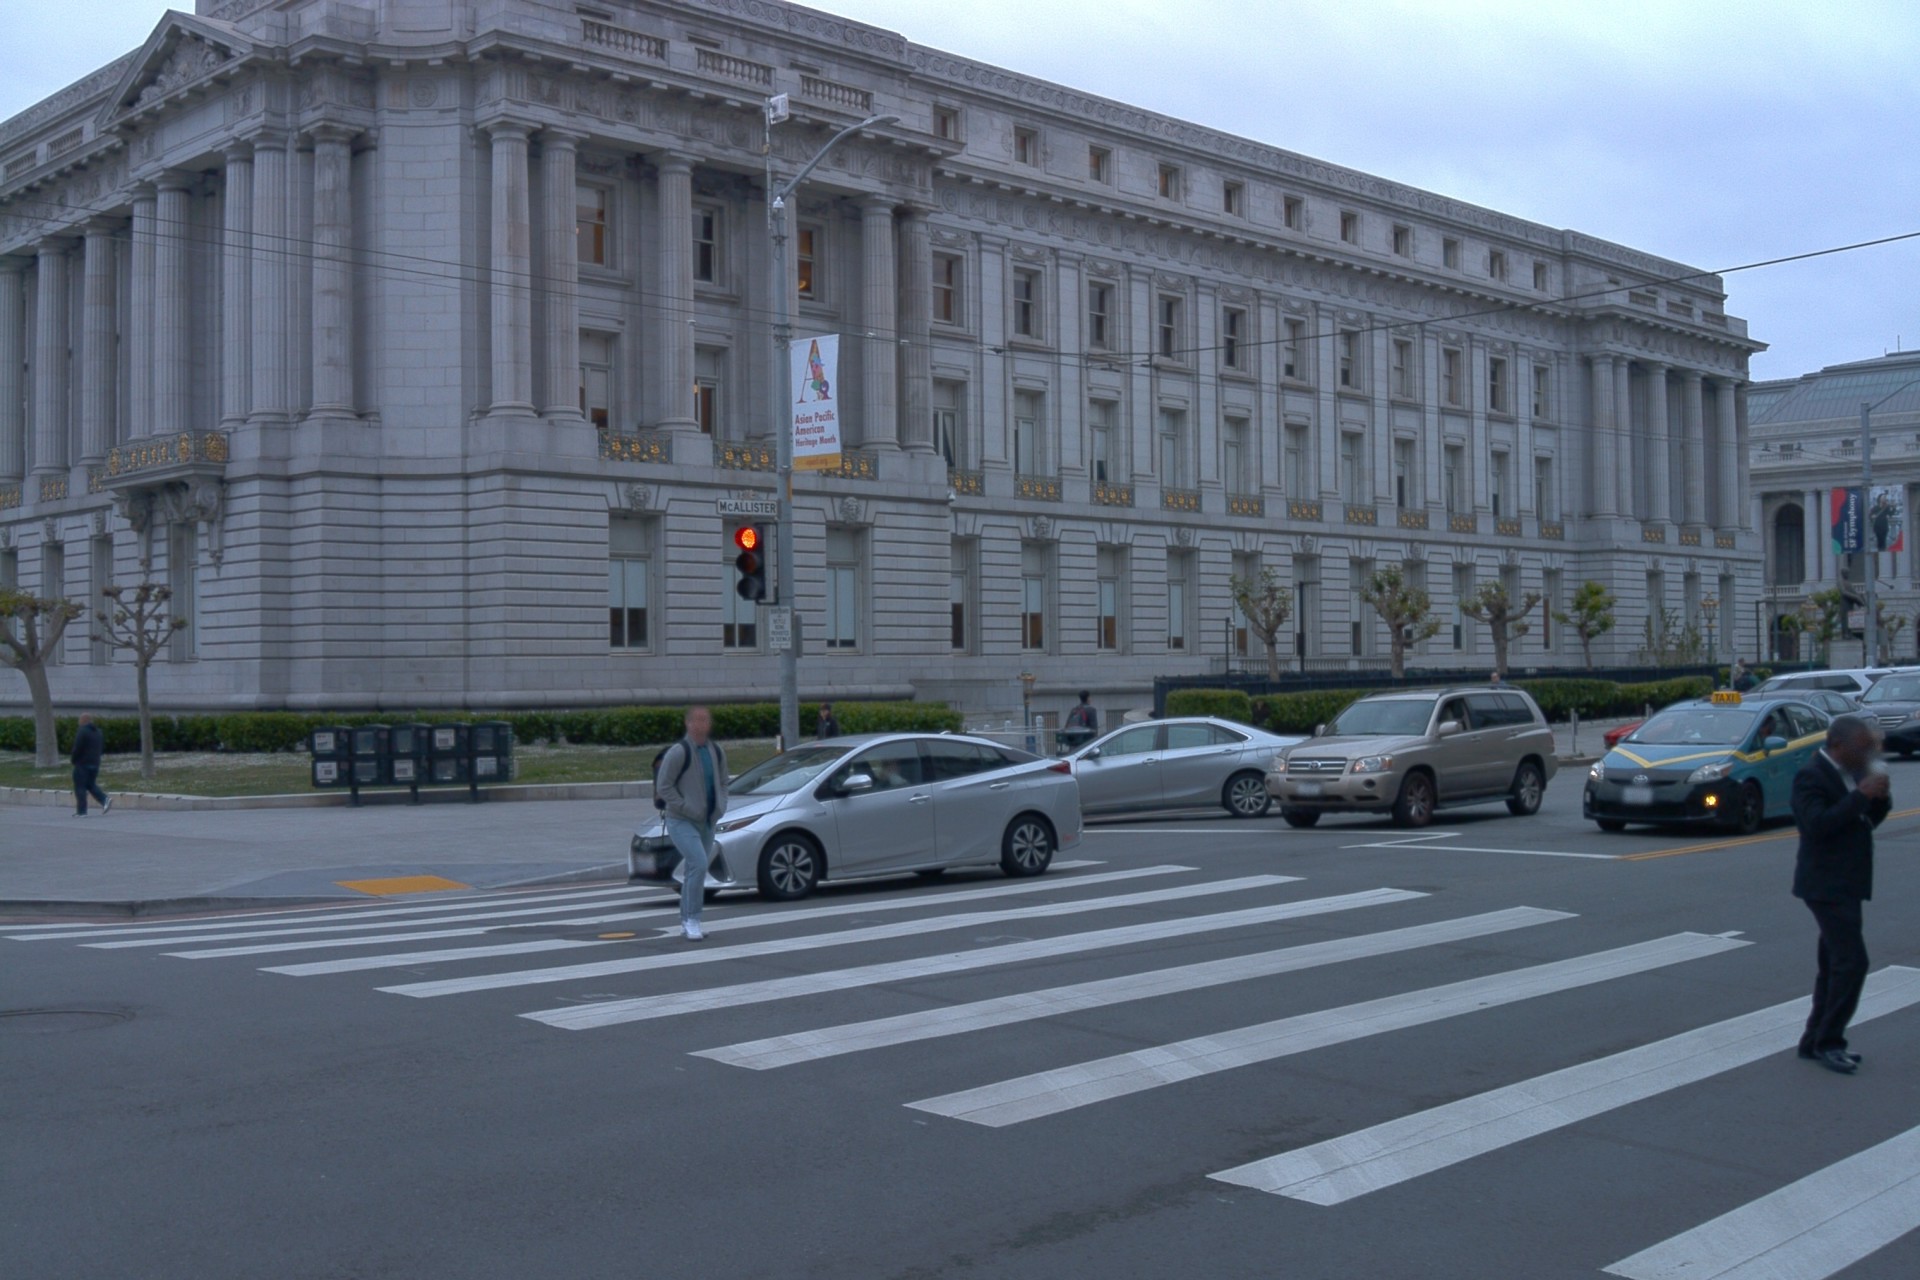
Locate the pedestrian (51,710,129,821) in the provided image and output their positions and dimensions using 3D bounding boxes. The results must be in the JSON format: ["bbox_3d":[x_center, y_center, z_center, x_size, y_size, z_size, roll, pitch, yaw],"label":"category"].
[{"bbox_3d":[-14.306,2.046,33.980,0.920,1.757,0.757,0,1,19],"label":"pedestrian"}]

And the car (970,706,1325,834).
[{"bbox_3d":[2.645,1.836,29.714,4.904,1.667,2.106,0,1,4],"label":"car"}]

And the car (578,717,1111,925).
[{"bbox_3d":[-1.013,1.604,19.627,4.667,1.540,2.142,-1,1,-38],"label":"car"}]

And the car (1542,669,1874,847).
[{"bbox_3d":[8.807,1.282,24.137,2.040,1.787,4.328,1,1,44],"label":"car"}]

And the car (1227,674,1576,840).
[{"bbox_3d":[5.740,1.404,26.474,2.180,1.800,4.766,1,1,44],"label":"car"}]

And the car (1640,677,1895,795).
[{"bbox_3d":[13.050,1.476,33.219,2.141,1.627,4.788,1,1,44],"label":"car"}]

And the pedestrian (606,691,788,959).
[{"bbox_3d":[-1.955,1.326,15.294,0.805,1.850,1.160,-1,1,-42],"label":"pedestrian"}]
